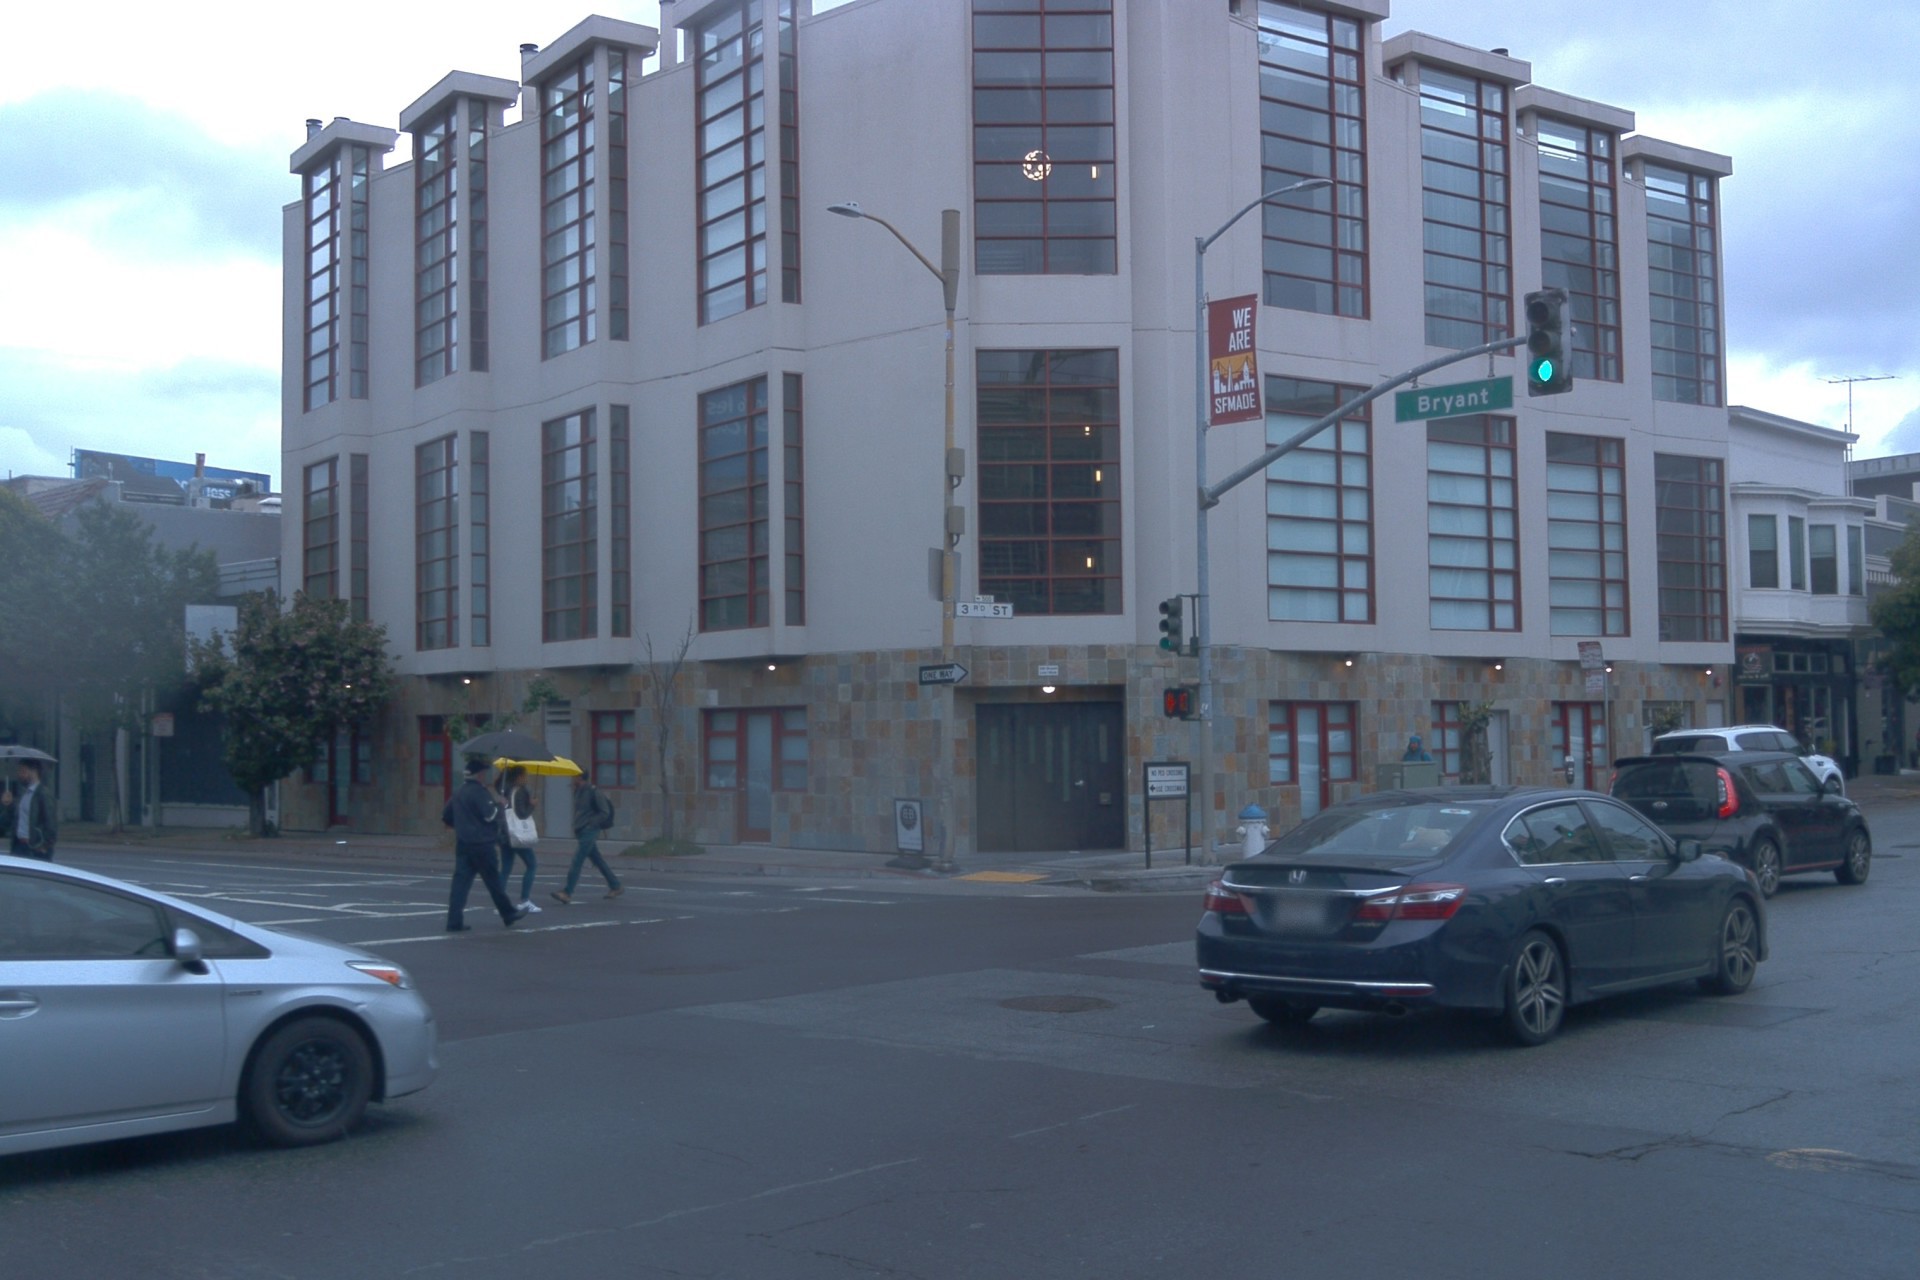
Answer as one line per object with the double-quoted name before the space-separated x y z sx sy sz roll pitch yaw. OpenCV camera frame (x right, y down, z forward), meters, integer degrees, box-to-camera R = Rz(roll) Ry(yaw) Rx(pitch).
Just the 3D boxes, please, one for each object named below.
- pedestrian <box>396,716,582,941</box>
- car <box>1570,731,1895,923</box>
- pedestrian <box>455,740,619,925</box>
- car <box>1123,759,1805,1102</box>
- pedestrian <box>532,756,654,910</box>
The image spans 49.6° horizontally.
"pedestrian" -4.737 1.850 20.968 1.228 2.110 1.342 0 0 36
"car" 8.667 1.978 23.154 1.886 1.751 4.205 0 0 44
"pedestrian" -4.635 2.072 22.785 1.362 1.860 1.137 0 0 -44
"car" 3.411 1.646 13.300 2.079 1.490 4.988 0 0 43
"pedestrian" -4.318 2.241 24.463 0.988 1.680 1.029 0 0 45
